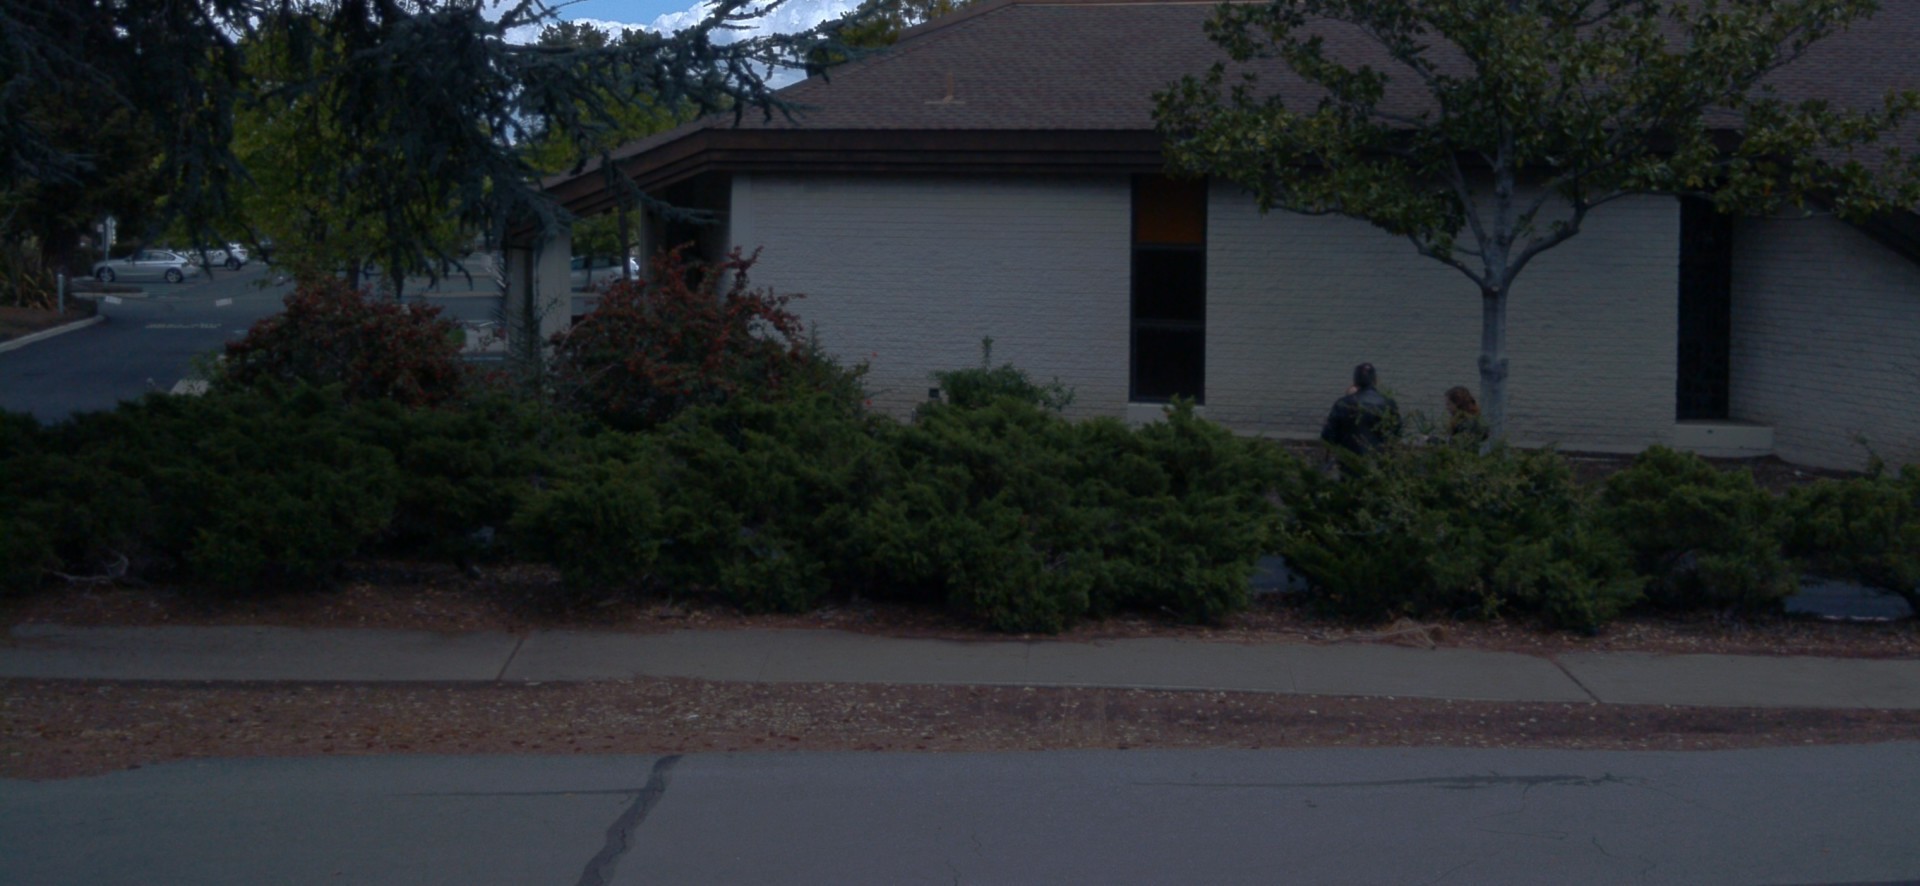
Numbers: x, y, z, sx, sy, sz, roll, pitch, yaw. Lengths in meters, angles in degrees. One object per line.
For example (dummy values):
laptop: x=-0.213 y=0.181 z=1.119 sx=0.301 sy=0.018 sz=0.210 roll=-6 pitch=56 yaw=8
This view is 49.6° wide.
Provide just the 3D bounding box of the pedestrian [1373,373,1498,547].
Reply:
pedestrian: x=3.974 y=0.123 z=17.438 sx=0.835 sy=1.370 sz=0.874 roll=0 pitch=1 yaw=-1

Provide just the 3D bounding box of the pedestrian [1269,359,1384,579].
pedestrian: x=3.006 y=0.184 z=17.057 sx=0.894 sy=1.690 sz=0.947 roll=1 pitch=1 yaw=10
